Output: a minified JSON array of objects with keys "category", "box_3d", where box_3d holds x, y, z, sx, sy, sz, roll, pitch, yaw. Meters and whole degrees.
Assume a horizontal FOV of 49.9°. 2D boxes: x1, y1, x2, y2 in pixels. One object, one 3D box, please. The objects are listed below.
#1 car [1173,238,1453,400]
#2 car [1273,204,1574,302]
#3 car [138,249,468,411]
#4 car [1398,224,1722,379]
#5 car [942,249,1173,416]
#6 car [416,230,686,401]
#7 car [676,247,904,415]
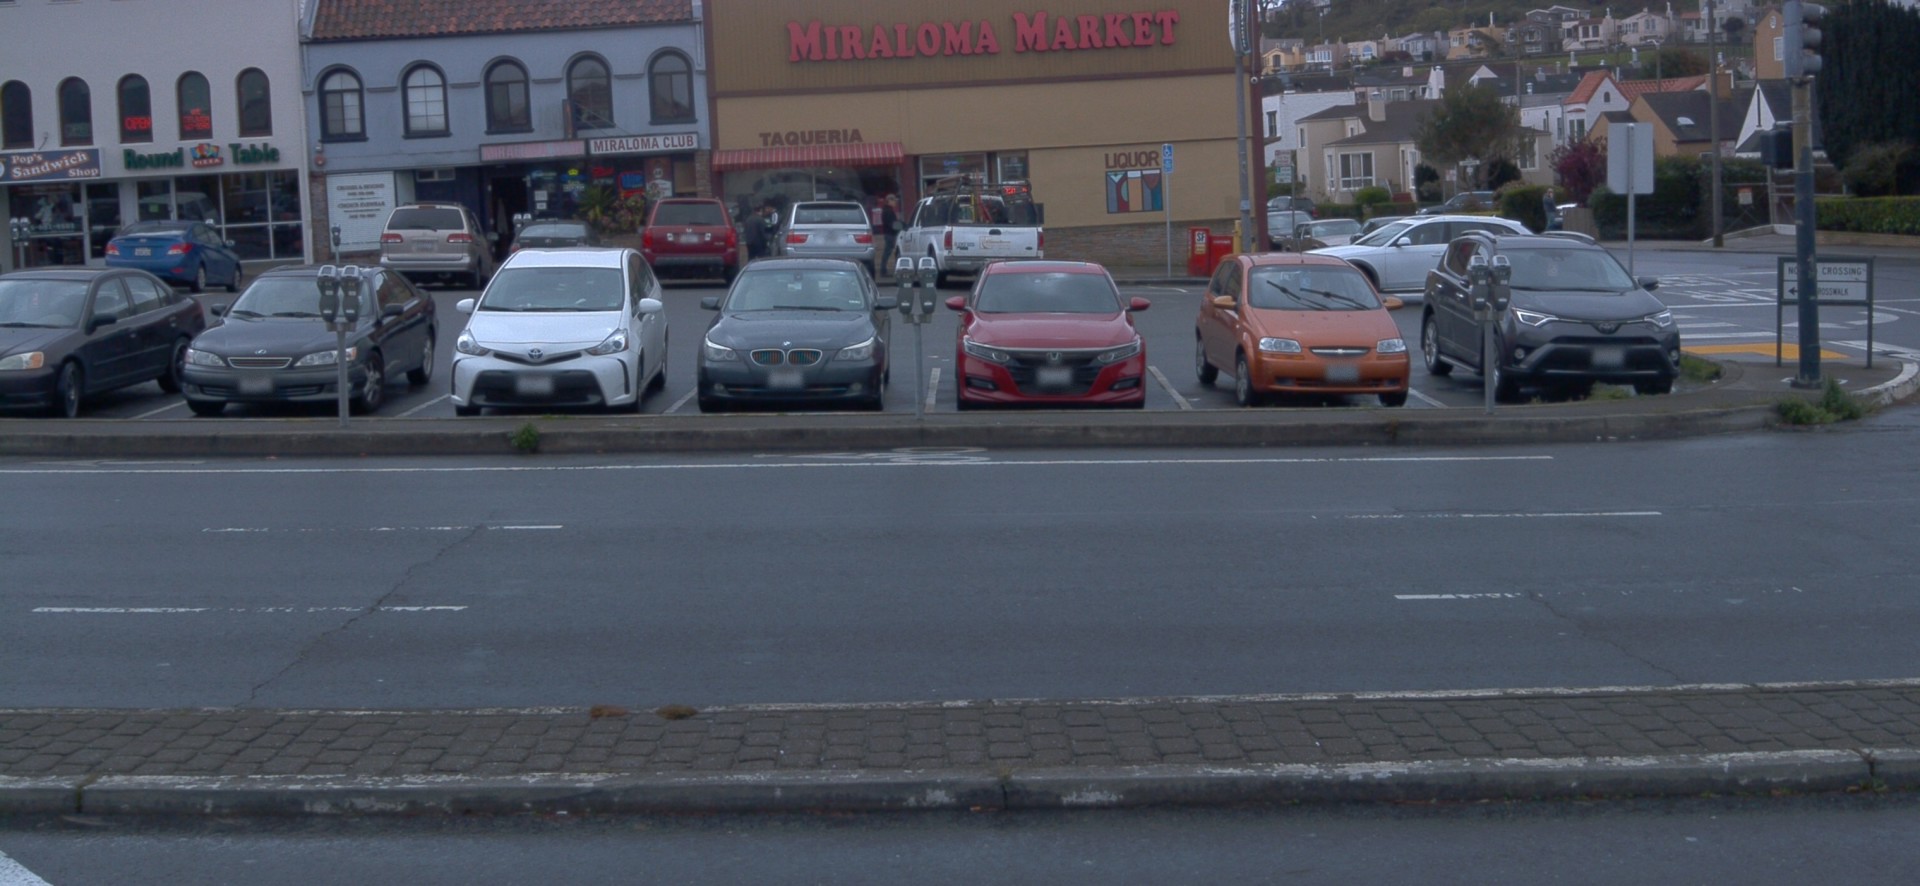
[{"category":"car","box_3d":[3.602,-1.393,21.813,2.049,1.462,4.037,0,6,-4]},{"category":"car","box_3d":[7.984,-3.327,35.713,4.667,1.604,2.074,-1,5,-13]},{"category":"car","box_3d":[-6.720,-1.281,21.702,2.023,1.392,4.712,0,6,-1]},{"category":"car","box_3d":[6.387,-1.637,22.575,2.205,1.461,4.580,0,6,0]},{"category":"car","box_3d":[0.905,-1.268,21.830,2.185,1.461,4.636,0,6,-1]},{"category":"car","box_3d":[-4.064,-1.413,21.310,2.132,1.491,4.678,0,6,-4]},{"category":"car","box_3d":[-1.660,-1.266,21.658,2.112,1.461,4.574,0,6,-1]}]
